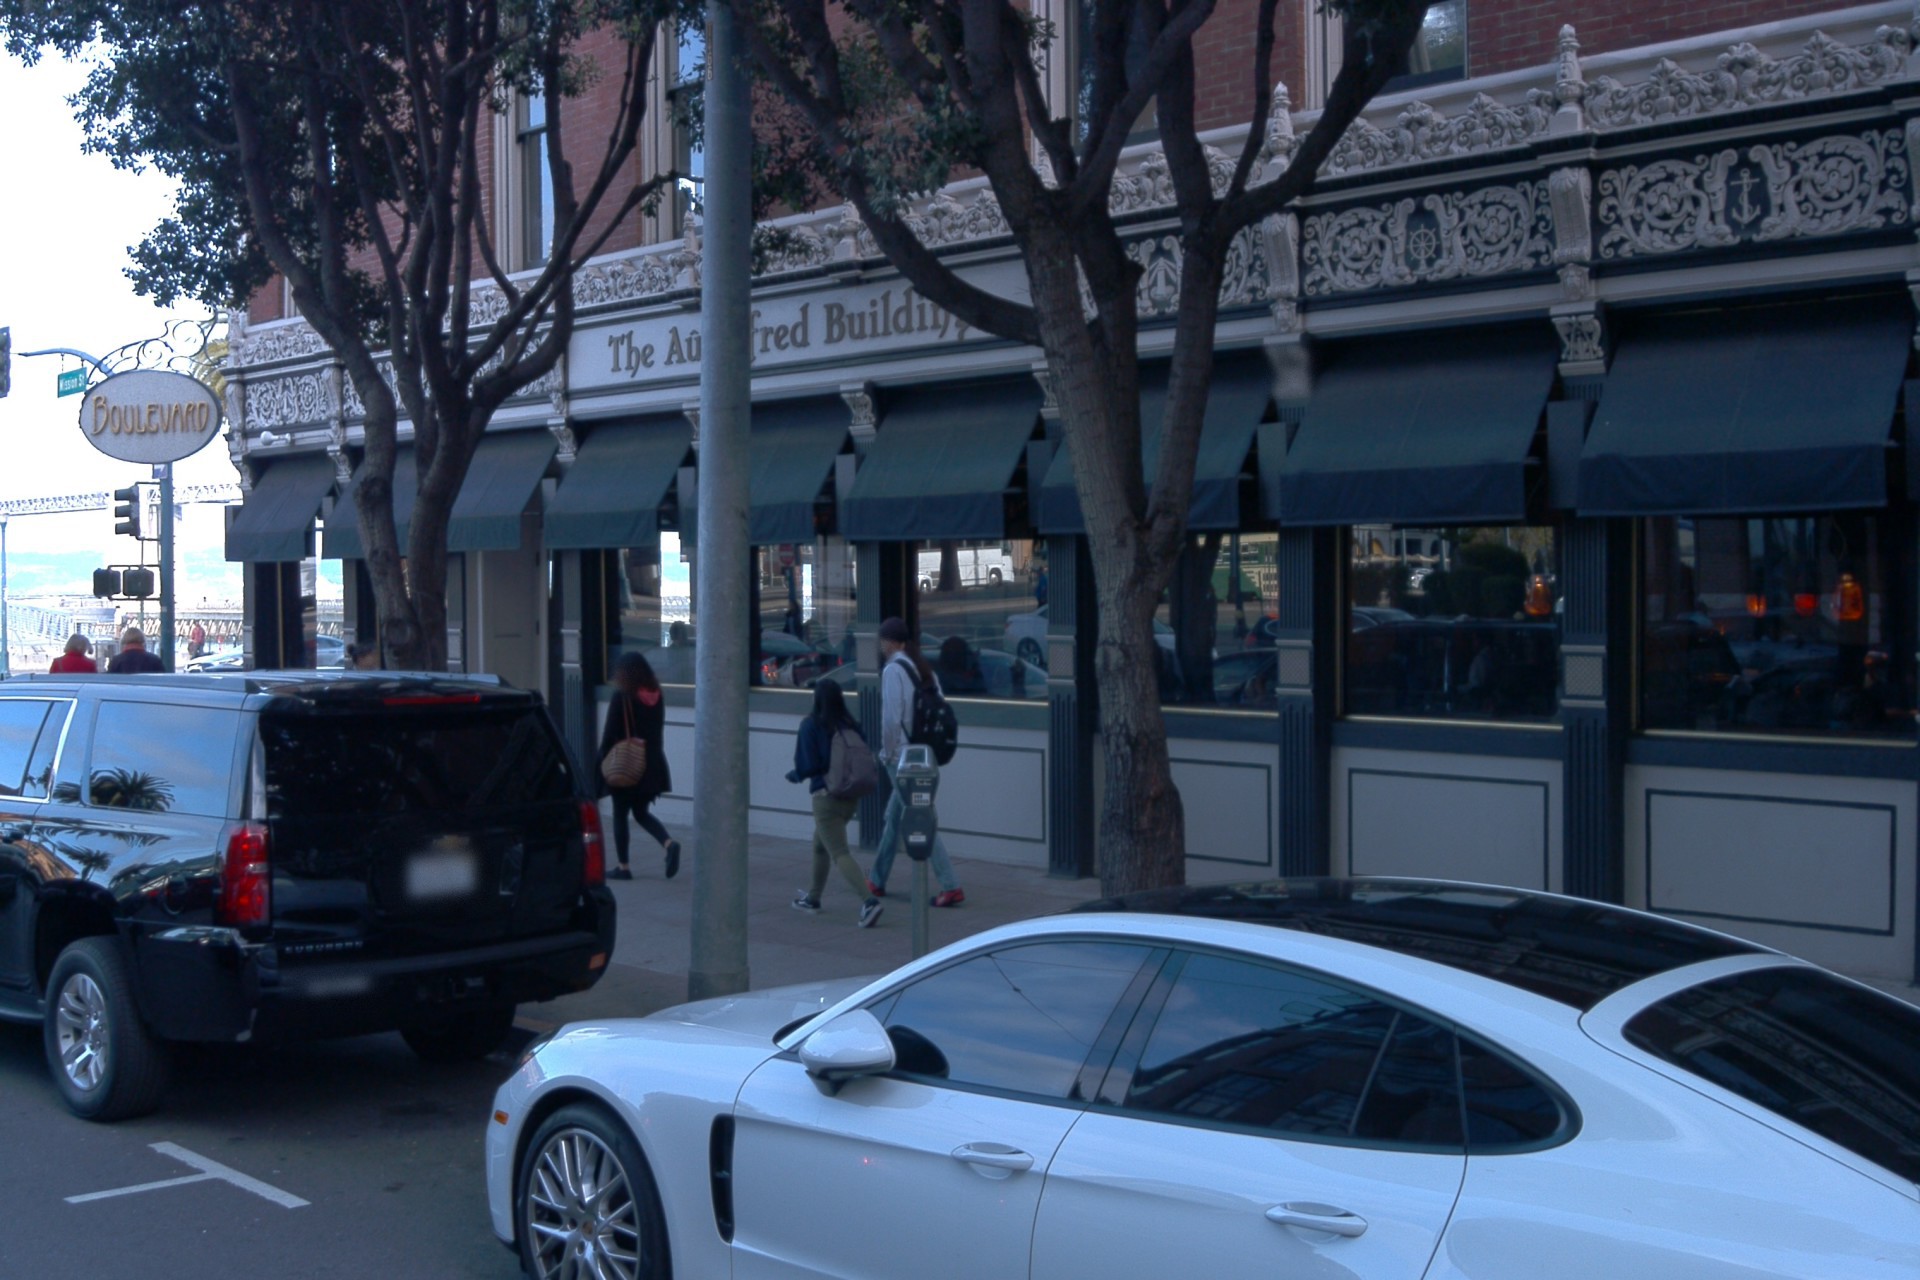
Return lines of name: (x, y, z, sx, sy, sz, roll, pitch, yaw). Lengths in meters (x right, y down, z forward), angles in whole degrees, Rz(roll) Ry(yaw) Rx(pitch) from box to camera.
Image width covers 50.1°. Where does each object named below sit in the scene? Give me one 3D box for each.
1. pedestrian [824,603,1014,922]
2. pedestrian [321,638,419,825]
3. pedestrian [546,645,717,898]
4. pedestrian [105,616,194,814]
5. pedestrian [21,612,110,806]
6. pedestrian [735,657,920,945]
pedestrian: (-0.260, 0.733, 12.975, 0.917, 1.920, 0.771, 0, 0, 42)
pedestrian: (-5.274, 0.796, 18.385, 0.652, 1.630, 0.591, 0, 0, 44)
pedestrian: (-2.302, 0.885, 14.412, 0.934, 1.690, 0.759, 0, 0, 42)
pedestrian: (-7.949, 0.713, 20.151, 0.727, 1.890, 0.813, 0, 0, -27)
pedestrian: (-8.629, 0.643, 19.825, 0.727, 1.828, 0.813, 0, 0, -27)
pedestrian: (-0.807, 0.939, 12.493, 0.895, 1.650, 0.692, 0, 0, 42)
